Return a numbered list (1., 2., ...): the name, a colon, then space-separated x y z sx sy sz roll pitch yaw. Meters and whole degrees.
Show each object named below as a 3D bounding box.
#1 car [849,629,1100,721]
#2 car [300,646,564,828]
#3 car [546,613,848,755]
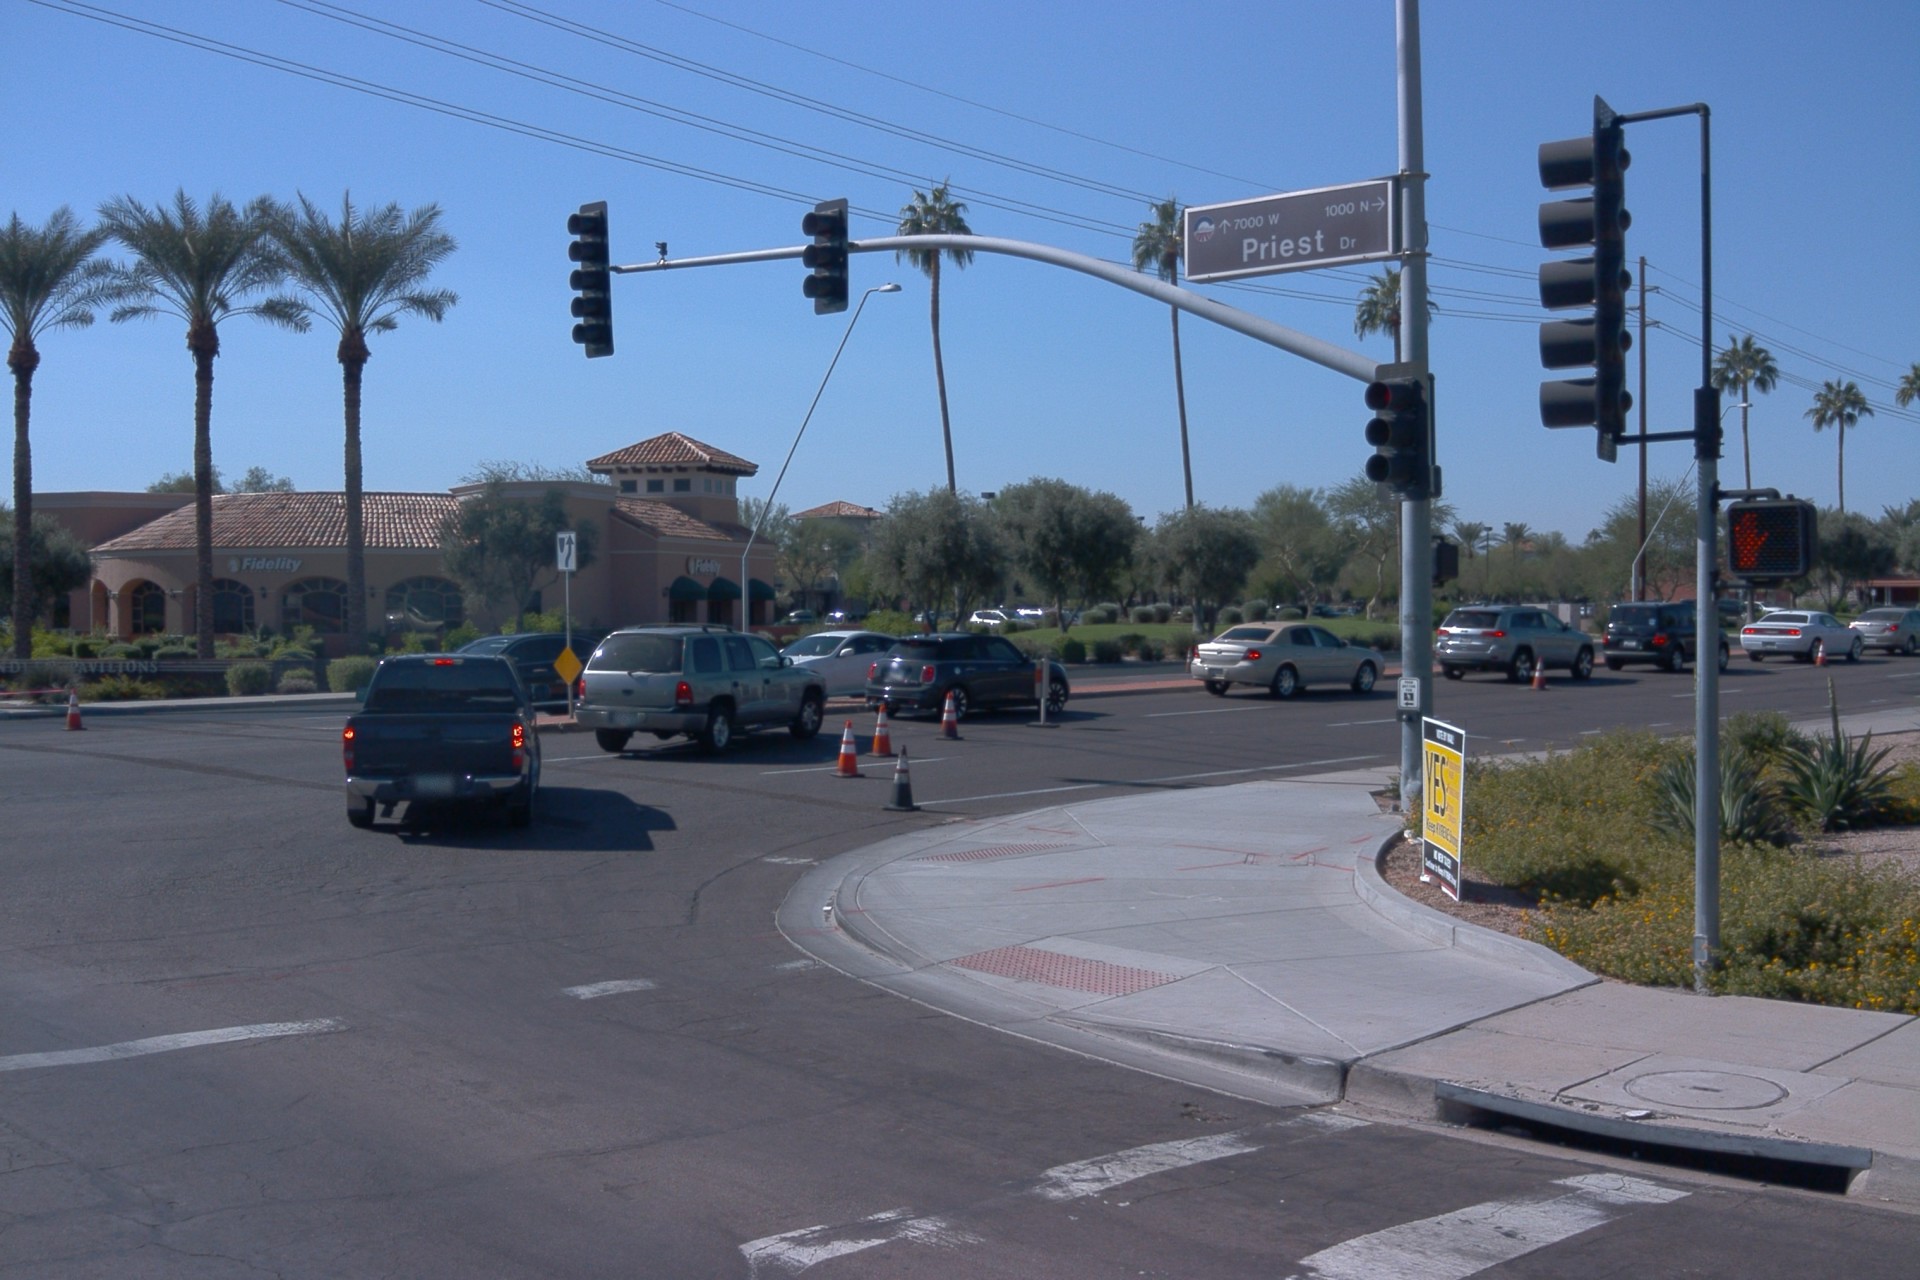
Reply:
1. car: 0.304 0.587 35.752 1.931 1.480 4.287 1 0 43
2. car: -5.260 0.899 21.319 2.147 1.630 4.952 1 0 -9
3. car: -3.638 0.593 29.764 2.175 1.830 4.919 1 0 21
